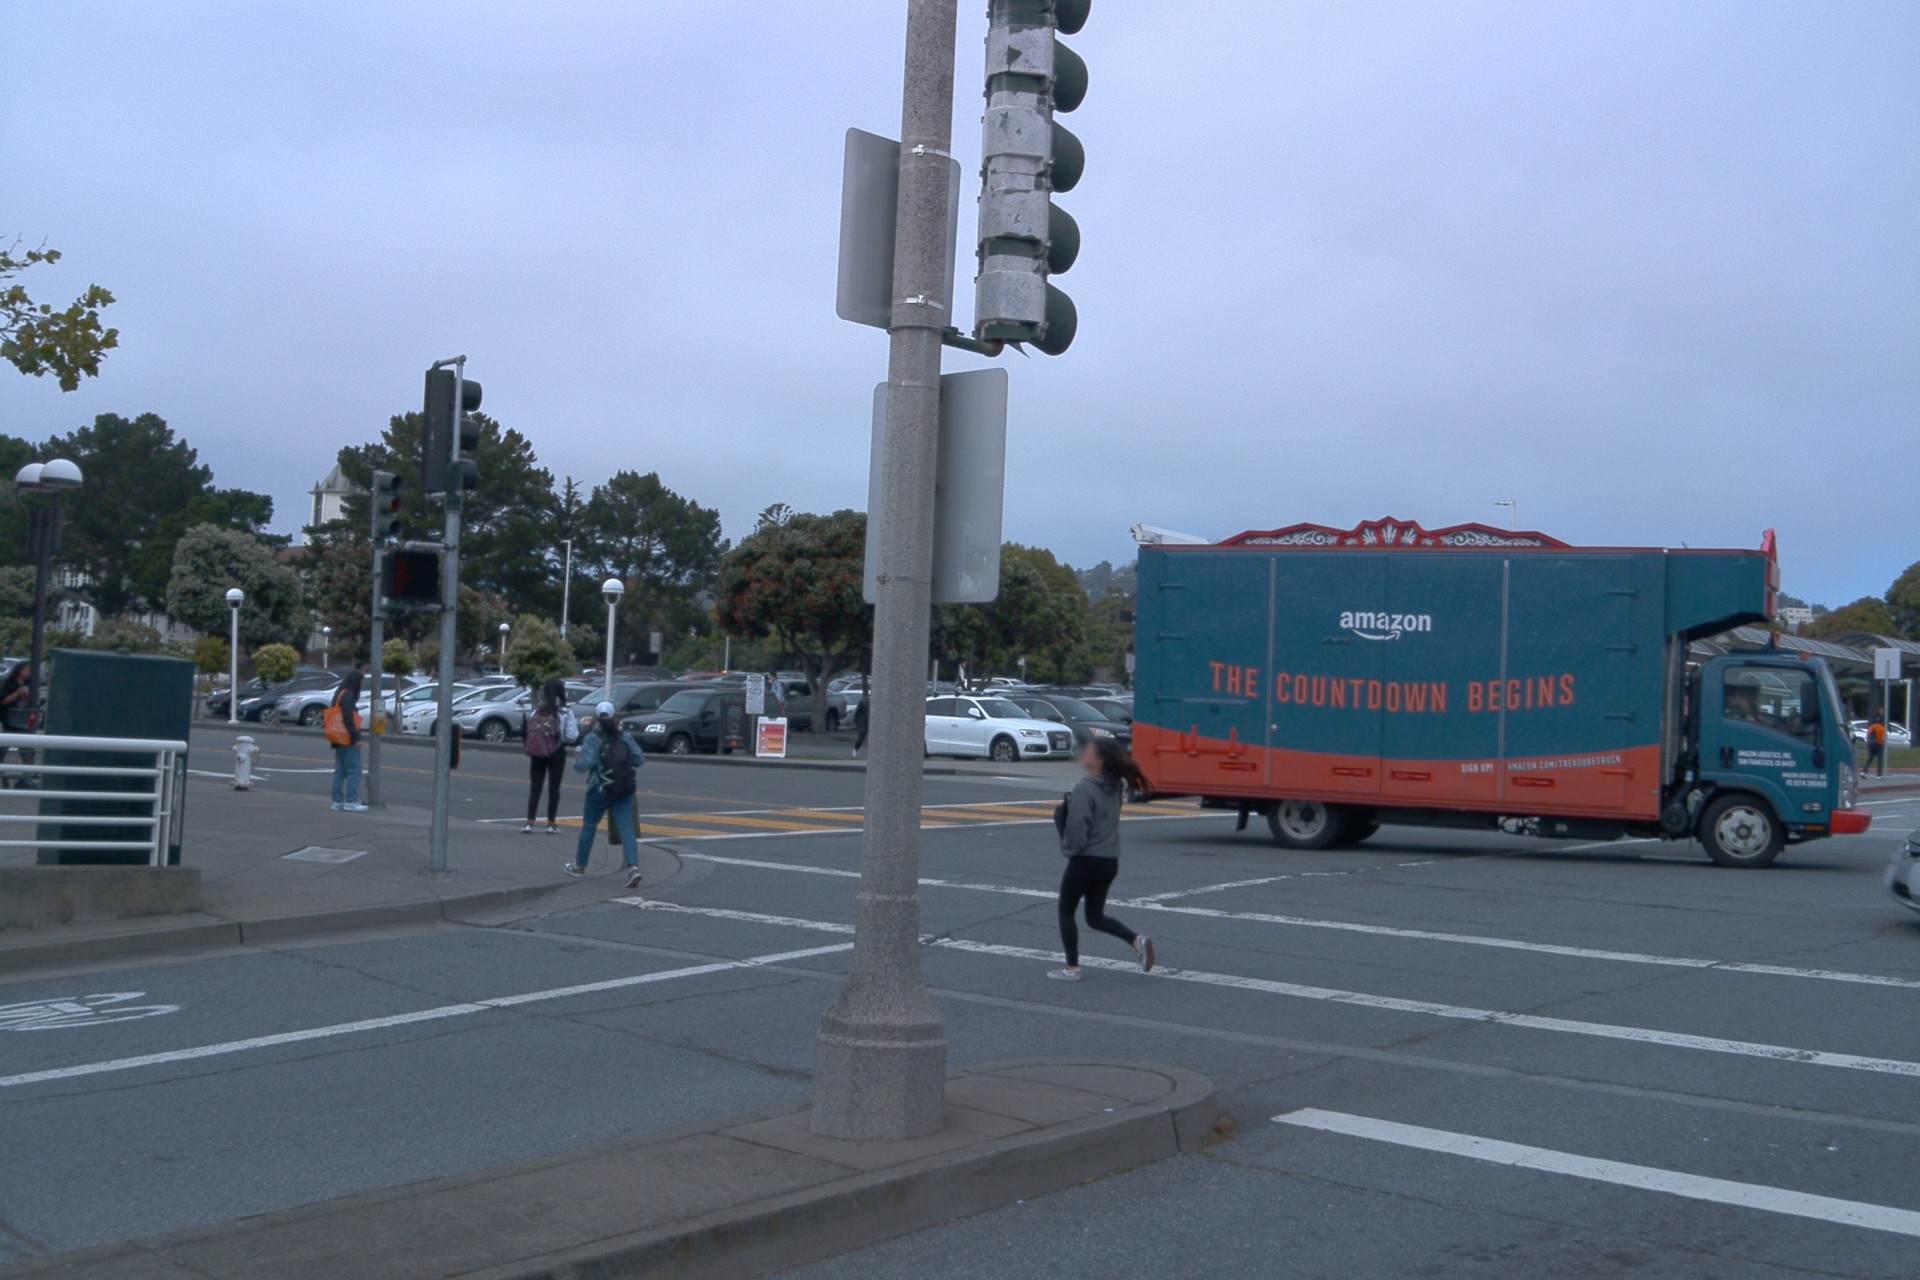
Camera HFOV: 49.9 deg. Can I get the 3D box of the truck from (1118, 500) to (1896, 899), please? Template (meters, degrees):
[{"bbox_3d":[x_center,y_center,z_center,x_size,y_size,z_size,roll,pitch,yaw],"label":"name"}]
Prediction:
[{"bbox_3d":[5.998,0.540,22.872,7.901,3.840,3.002,0,1,25],"label":"truck"}]

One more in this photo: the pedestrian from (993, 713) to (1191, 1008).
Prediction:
[{"bbox_3d":[0.801,1.296,12.524,0.928,1.650,0.750,1,1,40],"label":"pedestrian"}]

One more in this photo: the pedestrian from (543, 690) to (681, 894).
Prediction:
[{"bbox_3d":[-3.010,1.283,17.812,0.763,1.650,1.009,-1,1,-40],"label":"pedestrian"}]

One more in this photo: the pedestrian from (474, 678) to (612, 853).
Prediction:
[{"bbox_3d":[-4.202,1.240,20.824,0.908,1.670,1.002,0,1,37],"label":"pedestrian"}]

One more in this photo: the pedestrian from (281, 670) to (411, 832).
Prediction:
[{"bbox_3d":[-6.770,1.200,22.742,1.085,1.690,0.921,-1,1,-40],"label":"pedestrian"}]
